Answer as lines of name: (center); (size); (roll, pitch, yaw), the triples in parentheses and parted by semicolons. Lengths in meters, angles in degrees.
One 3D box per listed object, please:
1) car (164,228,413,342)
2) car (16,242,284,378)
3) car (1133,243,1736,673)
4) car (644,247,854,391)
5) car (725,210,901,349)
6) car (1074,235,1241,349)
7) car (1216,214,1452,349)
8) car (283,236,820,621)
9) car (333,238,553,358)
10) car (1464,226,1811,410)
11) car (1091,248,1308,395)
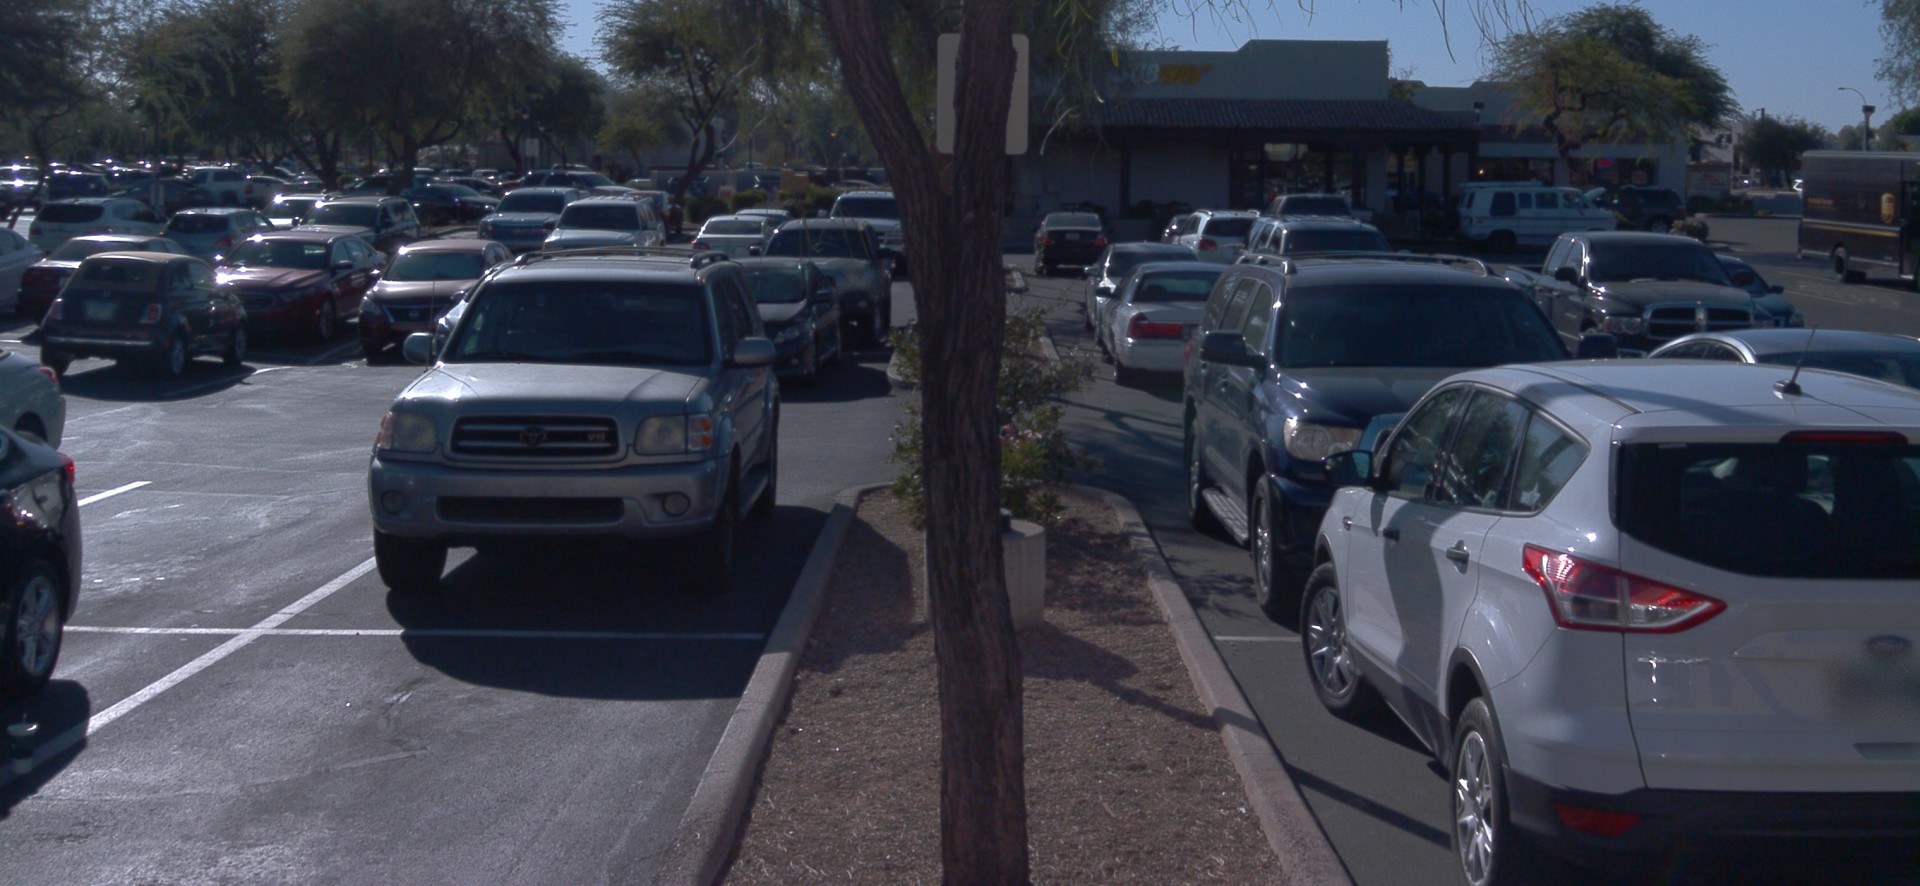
car: (-10.124, -2.484, 31.738); (2.086, 1.562, 4.913); (1, 6, 2)
car: (-10.155, -1.749, 26.318); (1.730, 1.533, 3.845); (1, 5, 3)
car: (2.576, -0.165, 12.872); (2.497, 2.061, 5.138); (1, 5, -1)
car: (-2.491, -1.611, 25.663); (2.083, 1.543, 4.565); (1, 6, 0)
car: (-2.129, -2.563, 31.615); (2.086, 1.901, 5.342); (1, 5, 2)
car: (2.909, -2.355, 31.477); (2.127, 1.553, 4.507); (1, 6, 0)
car: (5.625, -2.569, 32.026); (2.482, 1.891, 5.237); (0, 5, -3)
car: (-2.305, -0.330, 13.394); (2.382, 1.941, 5.207); (1, 5, 0)
car: (-7.517, -2.208, 30.651); (2.010, 1.593, 4.474); (1, 5, 2)
car: (8.321, -1.703, 26.216); (2.523, 2.021, 5.784); (1, 6, 0)
car: (2.855, -1.605, 25.922); (2.256, 1.562, 5.128); (1, 6, 2)
